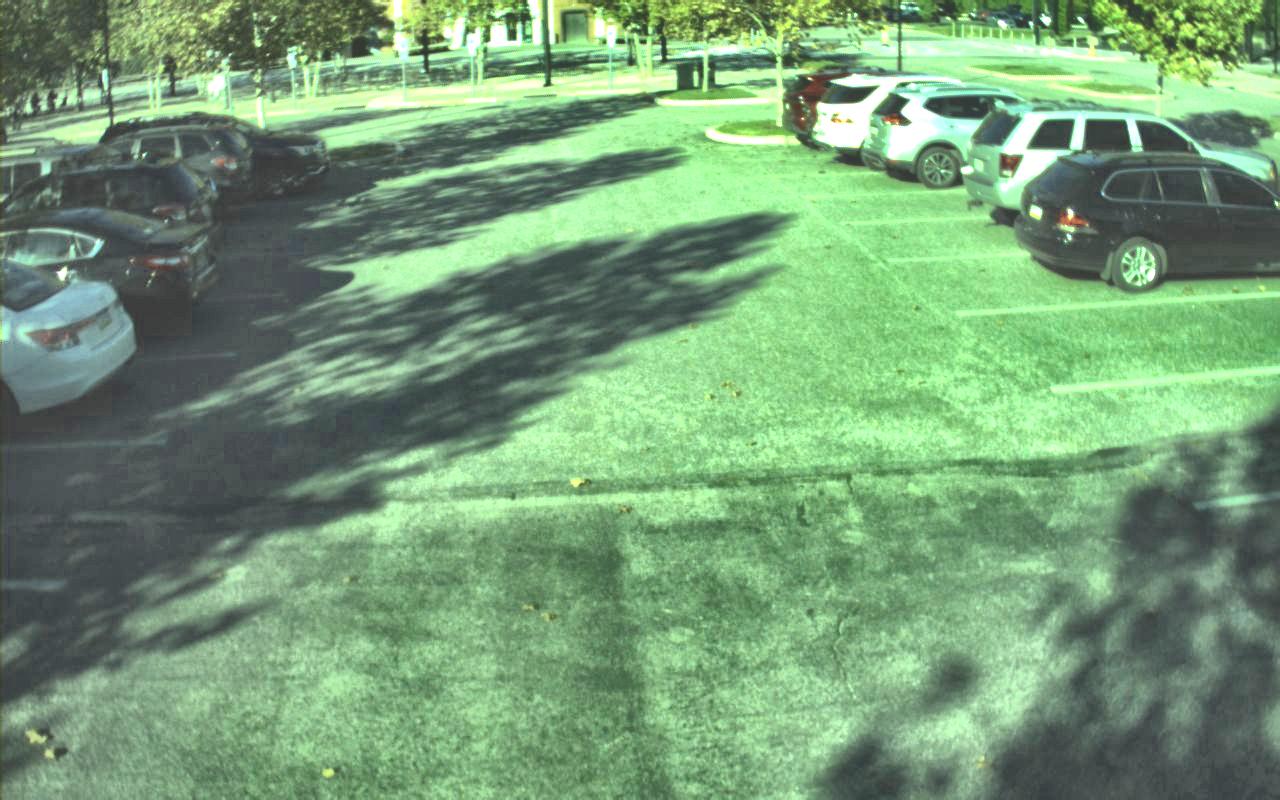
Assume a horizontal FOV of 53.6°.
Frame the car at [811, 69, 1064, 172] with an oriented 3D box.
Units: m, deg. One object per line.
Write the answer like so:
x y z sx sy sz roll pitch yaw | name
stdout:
5.703 -5.369 23.350 4.564 1.791 2.004 -3 16 -6 | car

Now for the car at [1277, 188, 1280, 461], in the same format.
7.650 -0.705 8.588 4.357 1.700 1.952 -2 16 -4 | car

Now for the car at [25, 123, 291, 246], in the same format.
-8.430 -3.703 20.266 4.432 1.664 1.986 1 16 7 | car

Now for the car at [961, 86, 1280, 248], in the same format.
6.918 -3.188 16.009 4.812 1.888 2.073 -2 16 -3 | car

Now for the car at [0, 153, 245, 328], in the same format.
-7.478 -2.083 14.973 4.444 1.668 1.980 -3 16 -7 | car

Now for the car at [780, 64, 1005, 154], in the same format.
5.371 -6.214 26.073 4.493 1.766 2.003 -3 16 -5 | car

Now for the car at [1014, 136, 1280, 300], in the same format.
6.735 -2.167 13.620 4.423 1.551 1.926 -3 16 -5 | car

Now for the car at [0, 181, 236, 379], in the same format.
-6.696 -1.317 12.537 4.314 1.556 1.919 -4 16 -8 | car

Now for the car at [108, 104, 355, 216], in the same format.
-7.943 -4.664 23.123 4.582 1.678 2.008 -2 16 -3 | car

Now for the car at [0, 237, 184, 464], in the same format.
-6.558 -0.432 10.229 4.371 1.545 1.926 -1 16 0 | car

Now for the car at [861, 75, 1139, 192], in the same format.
6.266 -4.651 20.974 4.586 1.796 1.996 -2 16 -4 | car
